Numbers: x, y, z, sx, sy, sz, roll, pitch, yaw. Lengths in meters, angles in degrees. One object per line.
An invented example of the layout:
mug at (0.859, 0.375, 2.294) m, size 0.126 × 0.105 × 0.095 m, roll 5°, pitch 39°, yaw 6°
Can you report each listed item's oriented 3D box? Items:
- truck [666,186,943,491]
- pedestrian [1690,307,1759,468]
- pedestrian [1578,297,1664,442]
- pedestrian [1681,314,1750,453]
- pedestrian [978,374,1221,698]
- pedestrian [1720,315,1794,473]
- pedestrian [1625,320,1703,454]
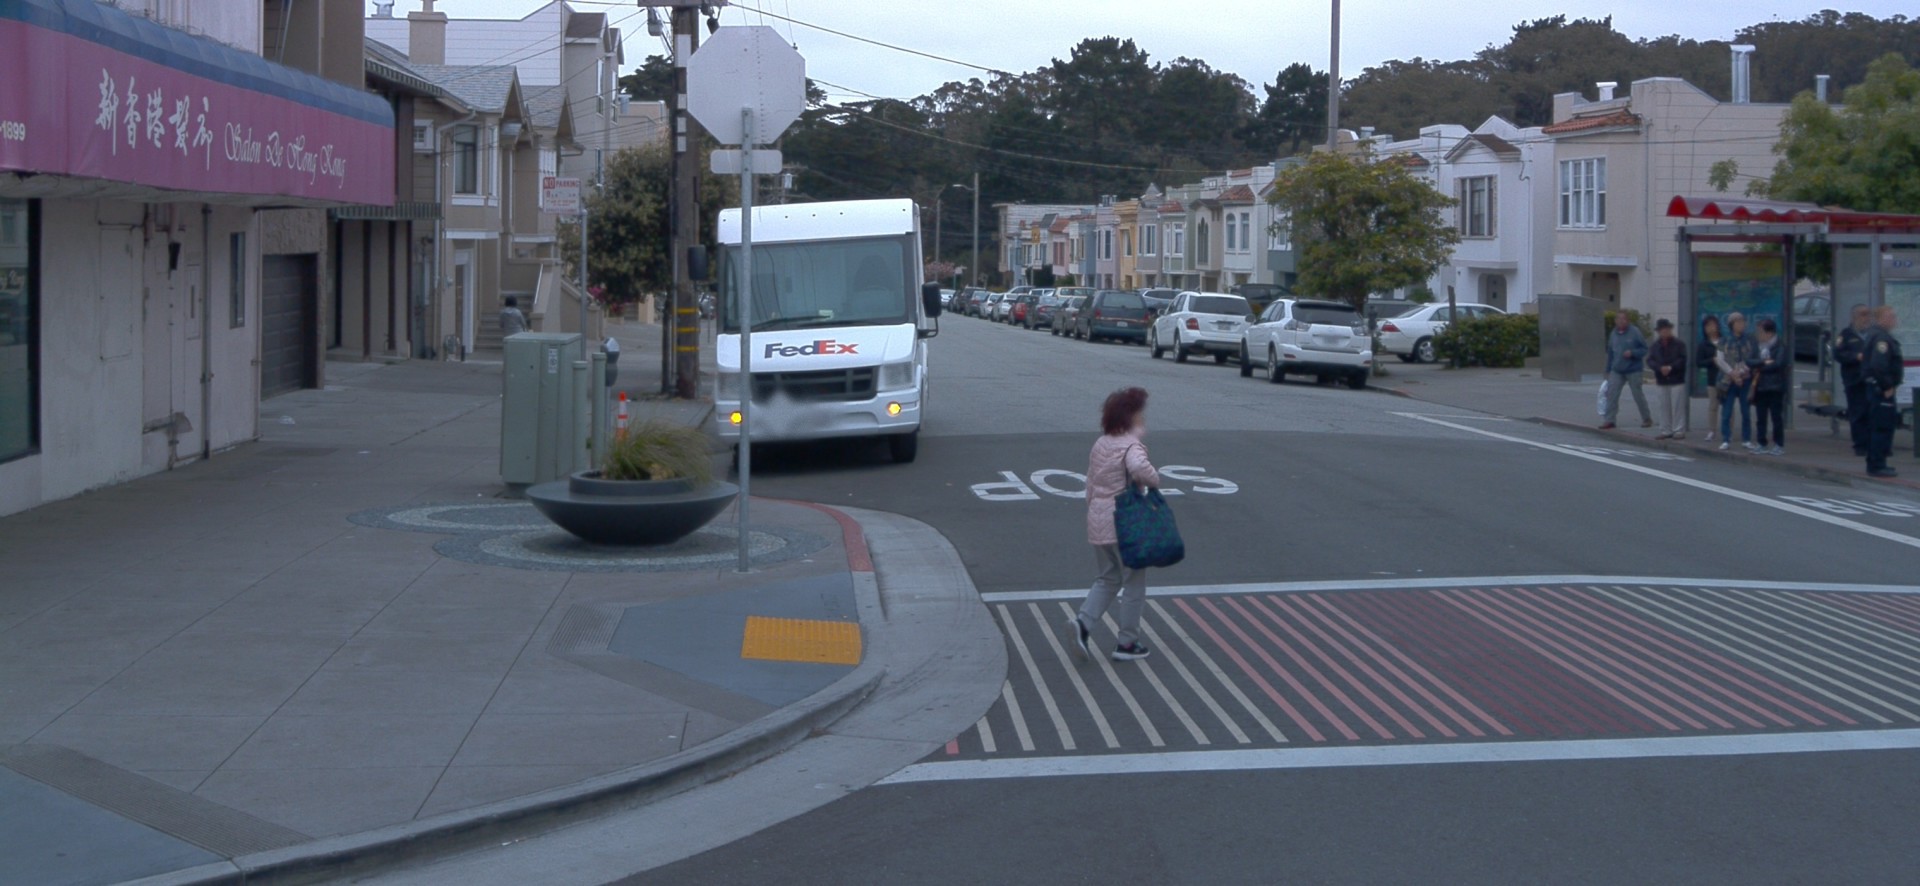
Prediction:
truck at (-1.573, -1.464, 24.164) m, size 2.688 × 3.011 × 7.388 m, roll 0°, pitch 6°, yaw 0°
pedestrian at (9.051, -0.674, 24.422) m, size 0.758 × 1.827 × 0.686 m, roll 0°, pitch 2°, yaw 20°
pedestrian at (8.979, -1.020, 28.021) m, size 0.924 × 1.876 × 0.872 m, roll 1°, pitch 2°, yaw 32°
pedestrian at (9.333, -0.751, 25.463) m, size 0.682 × 1.632 × 0.713 m, roll 1°, pitch 2°, yaw 31°
pedestrian at (0.720, 0.432, 10.667) m, size 0.857 × 1.476 × 0.907 m, roll -2°, pitch 3°, yaw -42°
pedestrian at (9.103, -0.578, 23.587) m, size 0.683 × 1.727 × 0.712 m, roll 0°, pitch 2°, yaw 12°
pedestrian at (8.891, -0.719, 26.054) m, size 0.713 × 1.607 × 0.682 m, roll -2°, pitch 3°, yaw -44°
